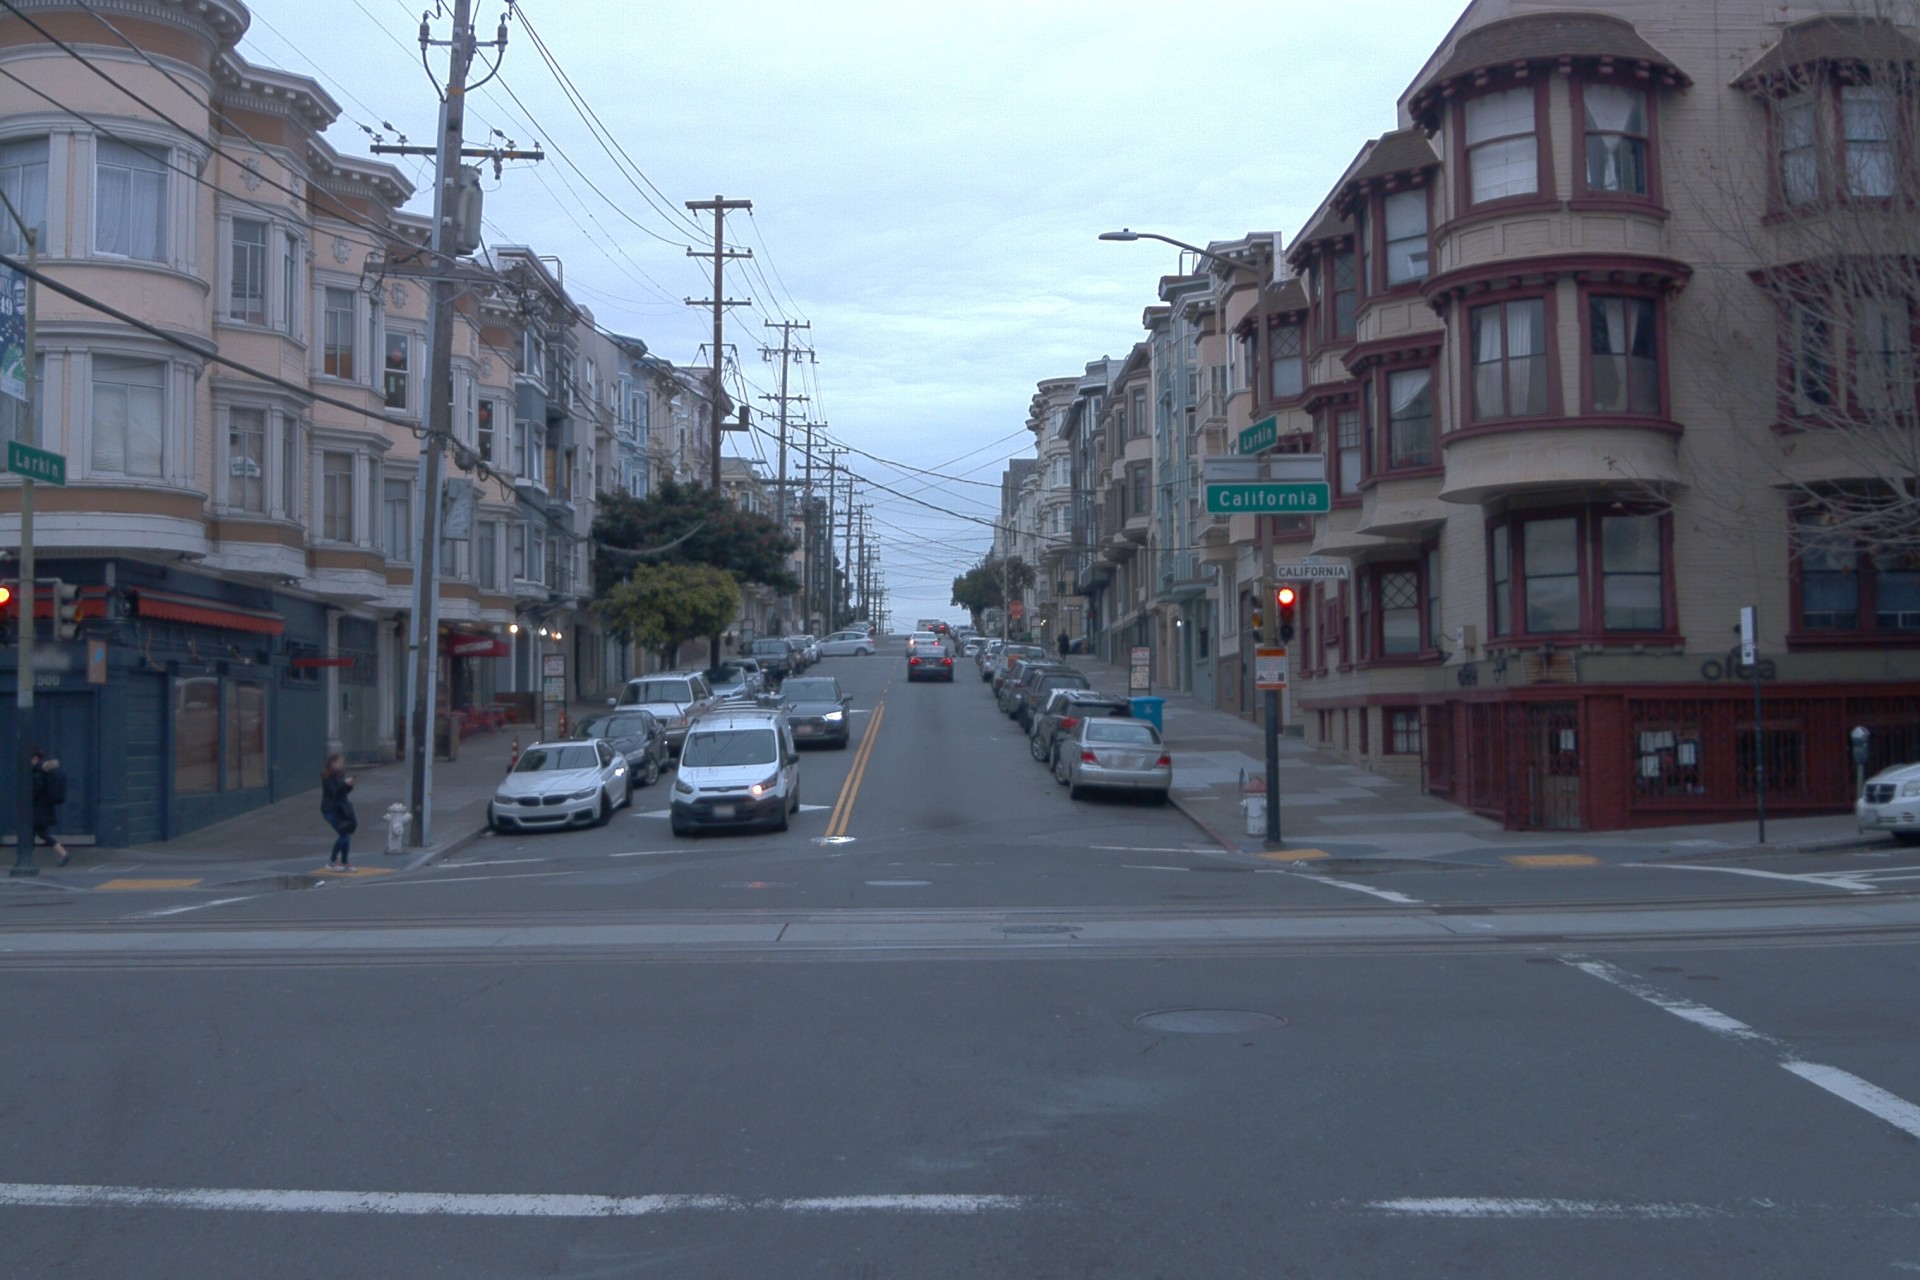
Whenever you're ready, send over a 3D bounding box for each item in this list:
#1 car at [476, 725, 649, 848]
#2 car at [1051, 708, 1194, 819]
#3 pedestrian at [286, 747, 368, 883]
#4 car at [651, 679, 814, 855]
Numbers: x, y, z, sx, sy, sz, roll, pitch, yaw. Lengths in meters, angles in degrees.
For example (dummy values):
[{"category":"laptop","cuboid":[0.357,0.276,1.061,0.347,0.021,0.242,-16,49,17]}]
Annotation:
[{"category":"car","cuboid":[-6.809,2.475,35.708,2.150,1.707,4.680,0,1,-1]},{"category":"car","cuboid":[2.941,2.231,38.182,2.108,1.700,4.470,0,1,-2]},{"category":"pedestrian","cuboid":[-8.799,2.424,28.625,0.941,1.800,0.776,0,1,-5]},{"category":"car","cuboid":[-3.617,1.972,33.588,2.196,2.490,4.690,0,1,-1]}]
